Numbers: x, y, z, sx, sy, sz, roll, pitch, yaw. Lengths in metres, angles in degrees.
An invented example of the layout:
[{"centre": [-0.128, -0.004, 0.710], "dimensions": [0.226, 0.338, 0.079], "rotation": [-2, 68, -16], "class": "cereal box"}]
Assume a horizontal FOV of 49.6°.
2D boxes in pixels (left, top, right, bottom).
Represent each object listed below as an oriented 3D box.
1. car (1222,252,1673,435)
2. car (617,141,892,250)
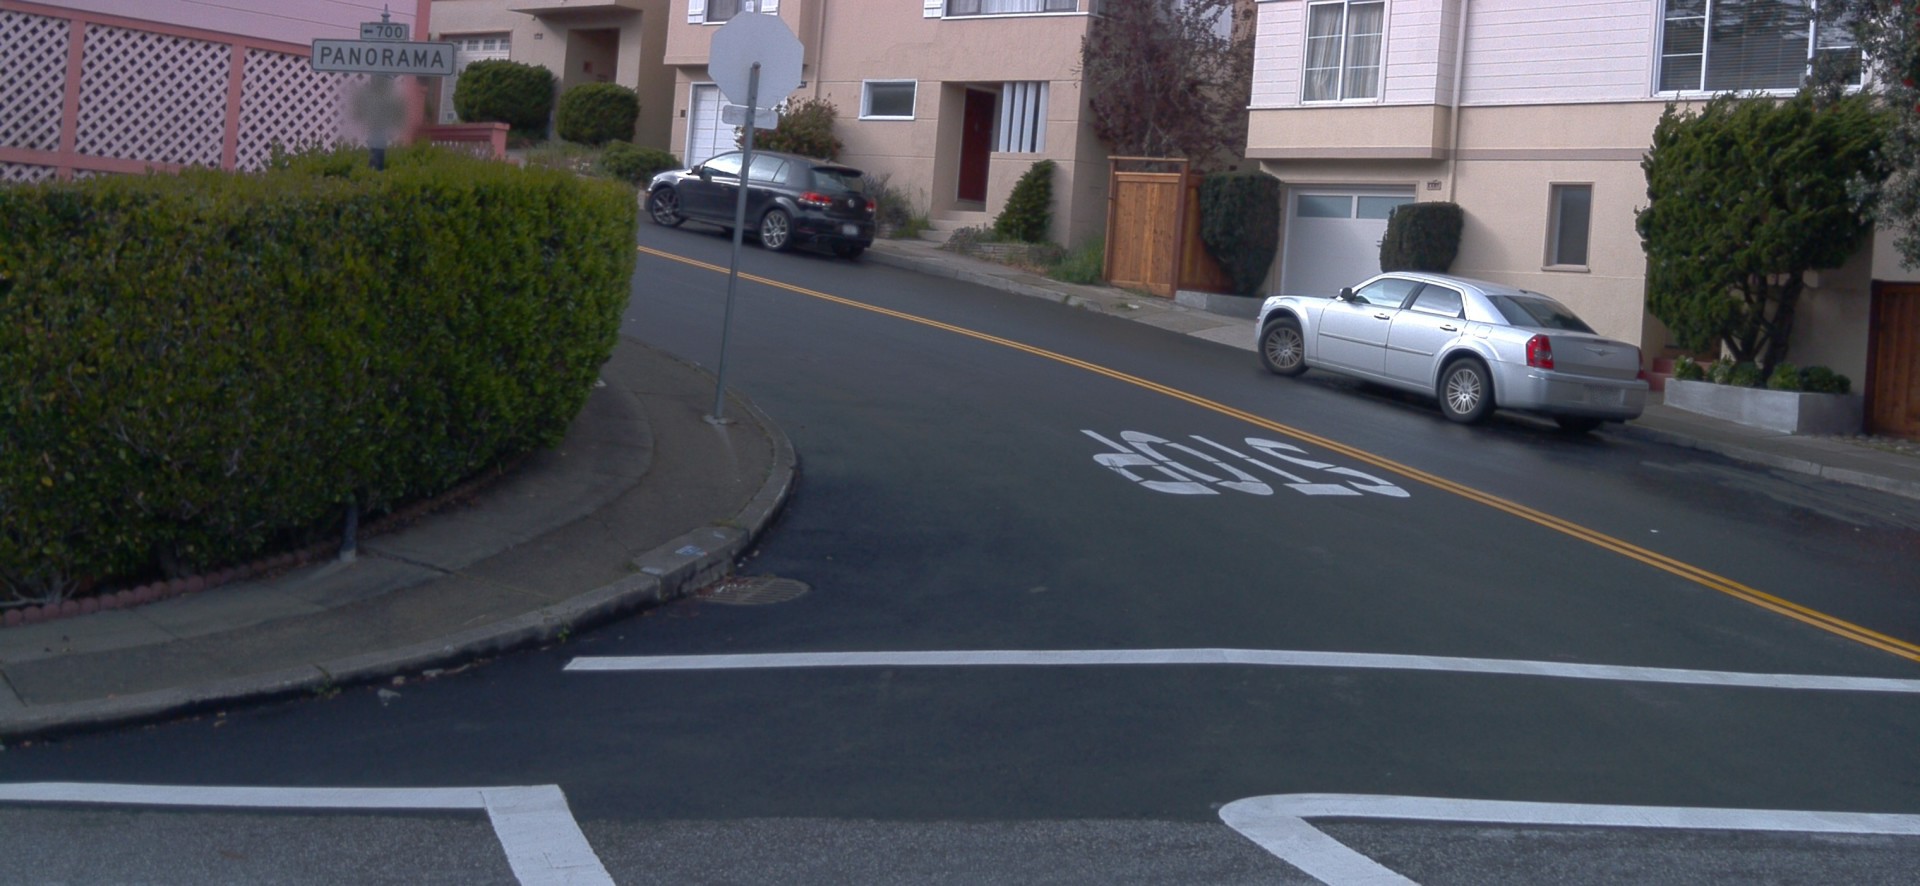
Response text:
[{"centre": [5.277, -1.222, 23.174], "dimensions": [1.984, 1.682, 4.921], "rotation": [-2, 6, -32], "class": "car"}, {"centre": [-3.263, -3.891, 32.603], "dimensions": [4.119, 1.604, 1.867], "rotation": [5, 6, 38], "class": "car"}]
